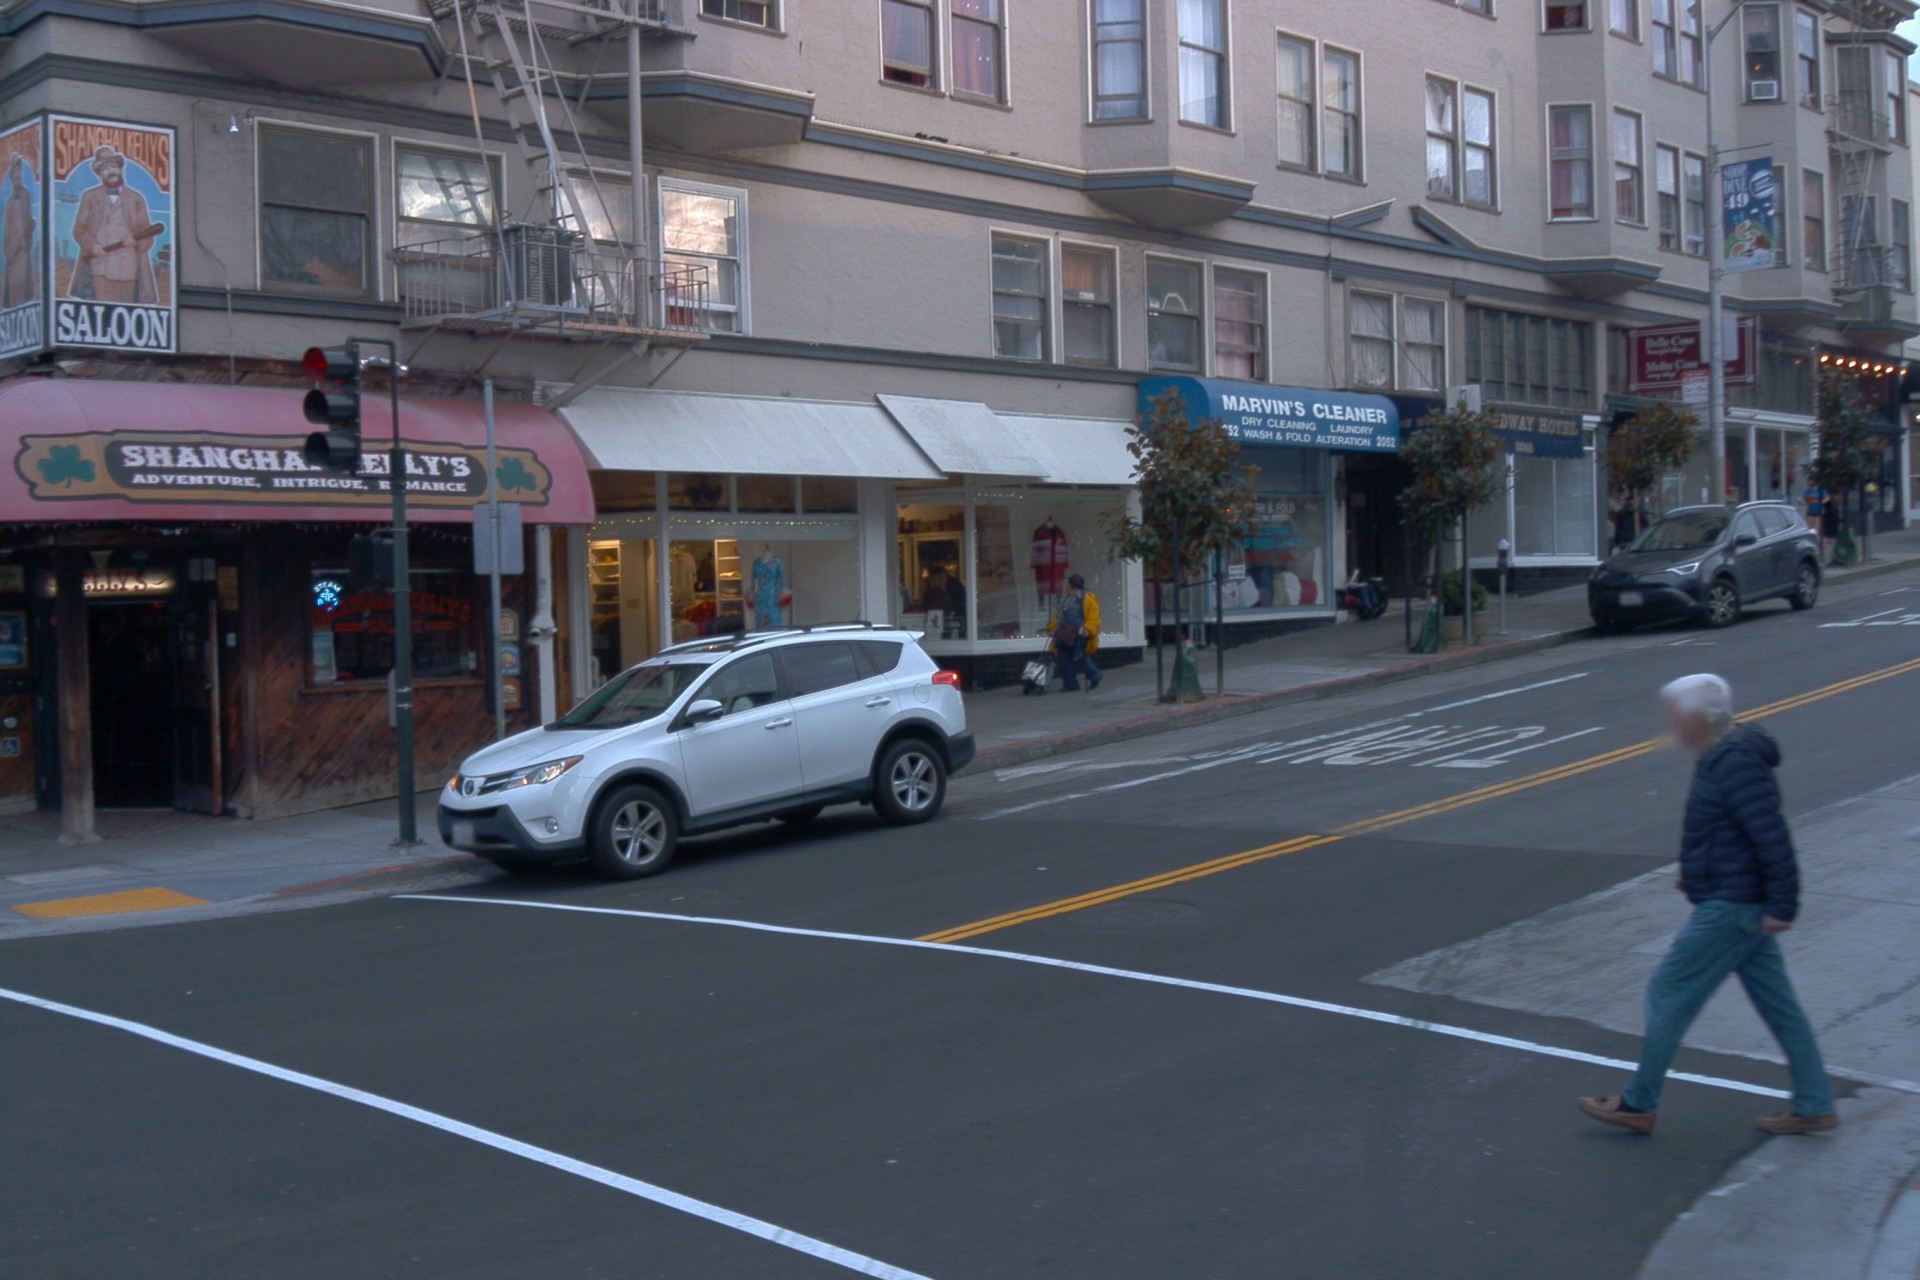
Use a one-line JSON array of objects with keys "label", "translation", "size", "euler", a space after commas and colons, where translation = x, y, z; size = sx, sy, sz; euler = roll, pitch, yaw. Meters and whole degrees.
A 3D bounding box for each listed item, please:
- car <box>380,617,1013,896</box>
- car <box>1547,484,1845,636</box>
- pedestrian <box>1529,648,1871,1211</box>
[{"label": "car", "translation": [-2.025, 0.805, 16.565], "size": [4.555, 1.930, 2.267], "euler": [0, 0, -41]}, {"label": "car", "translation": [10.686, -1.076, 29.715], "size": [4.424, 2.000, 2.160], "euler": [0, 0, -42]}, {"label": "pedestrian", "translation": [2.746, 0.983, 7.594], "size": [1.083, 1.890, 0.893], "euler": [1, 0, 26]}]
